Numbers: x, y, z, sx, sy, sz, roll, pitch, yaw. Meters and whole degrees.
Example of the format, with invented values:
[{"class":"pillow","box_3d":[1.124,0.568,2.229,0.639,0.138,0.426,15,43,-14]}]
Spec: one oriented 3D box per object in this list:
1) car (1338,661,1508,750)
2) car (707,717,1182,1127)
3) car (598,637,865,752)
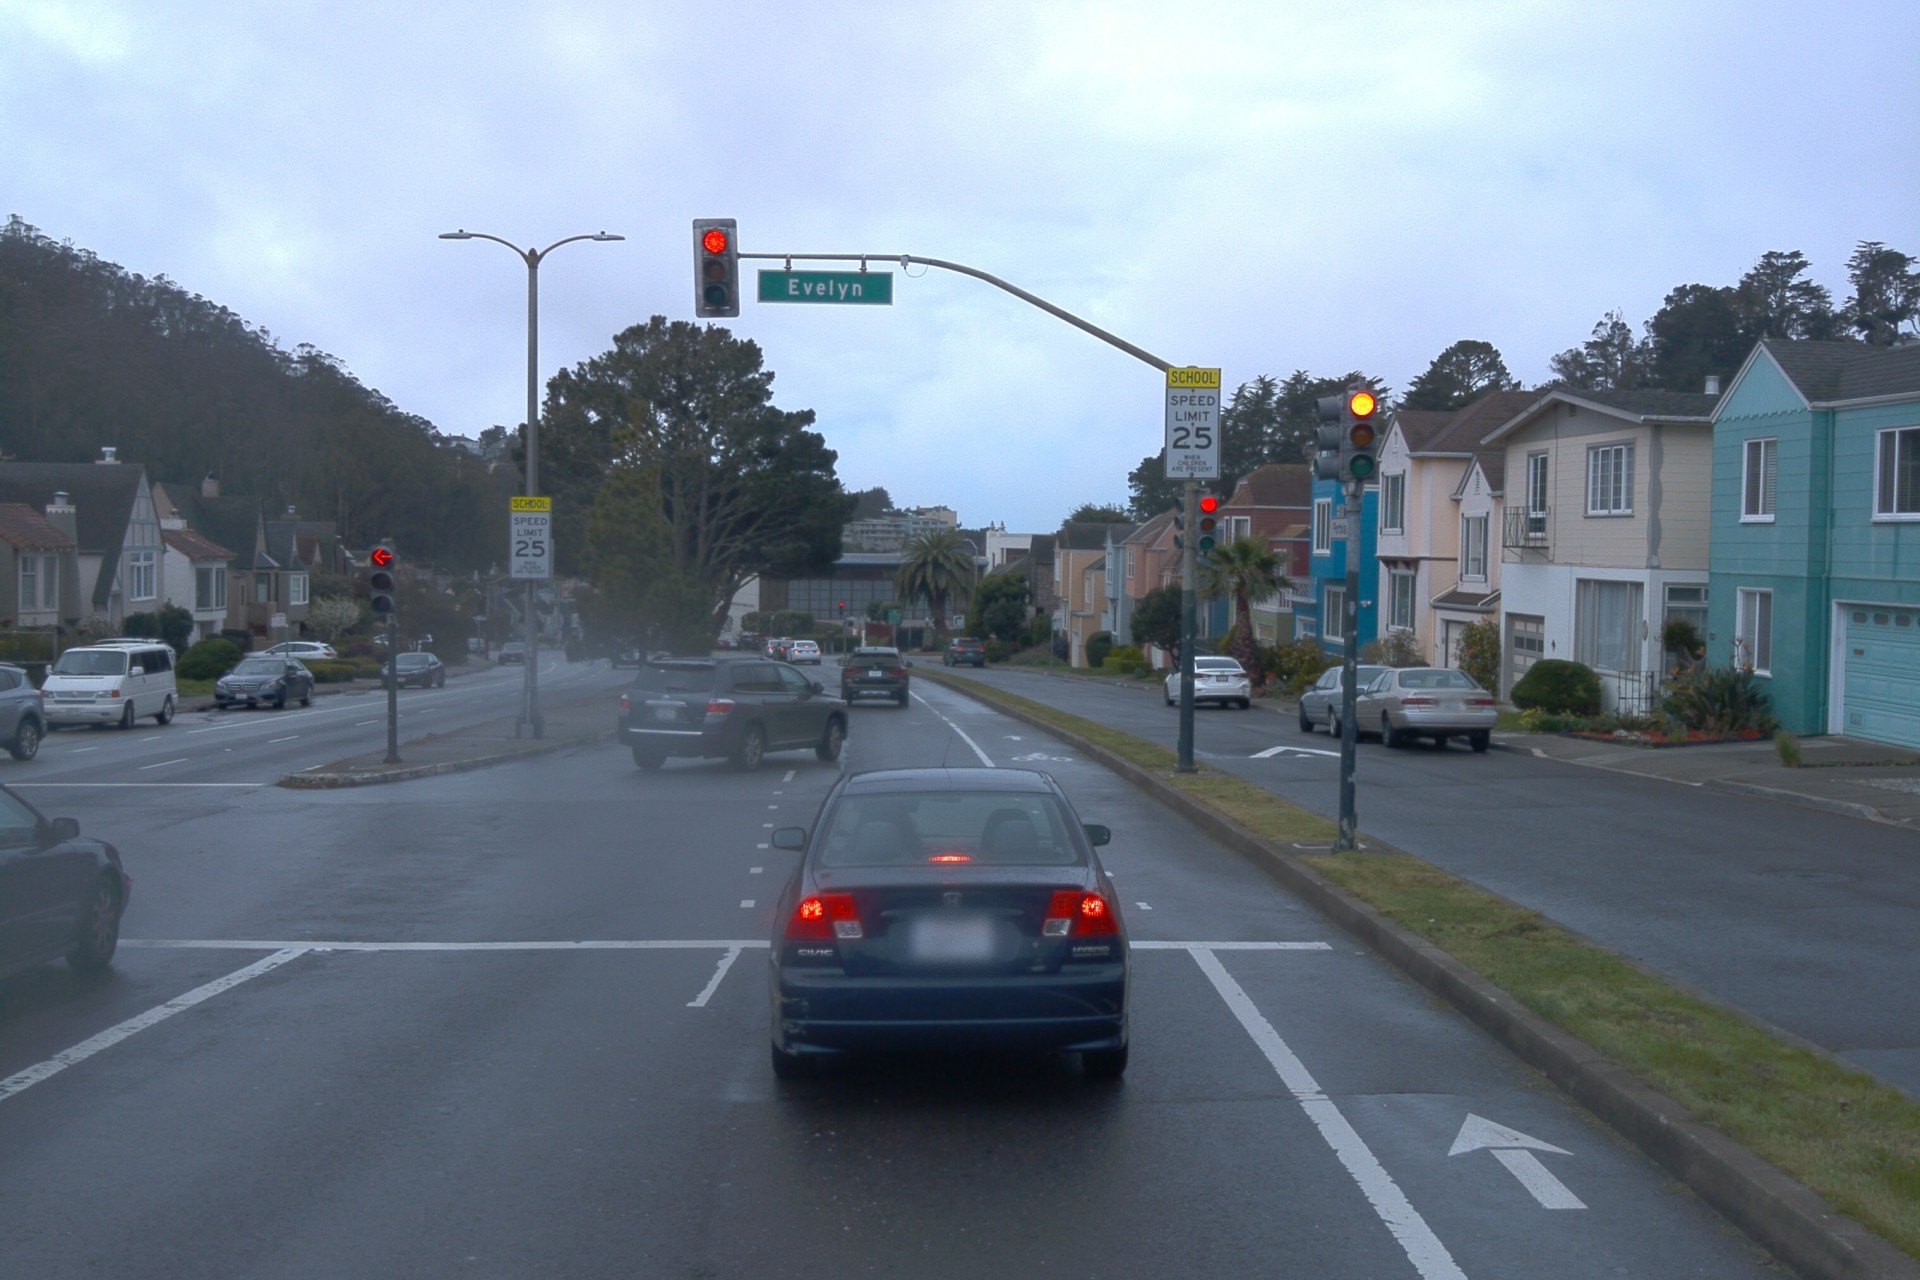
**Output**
[{"class":"car","box_3d":[8.083,1.108,36.365,1.755,1.440,4.469,0,0,-4]},{"class":"car","box_3d":[-0.106,1.263,10.780,2.004,1.570,4.164,0,0,-1]},{"class":"car","box_3d":[-3.460,0.790,32.288,2.118,1.660,4.788,0,0,22]}]
